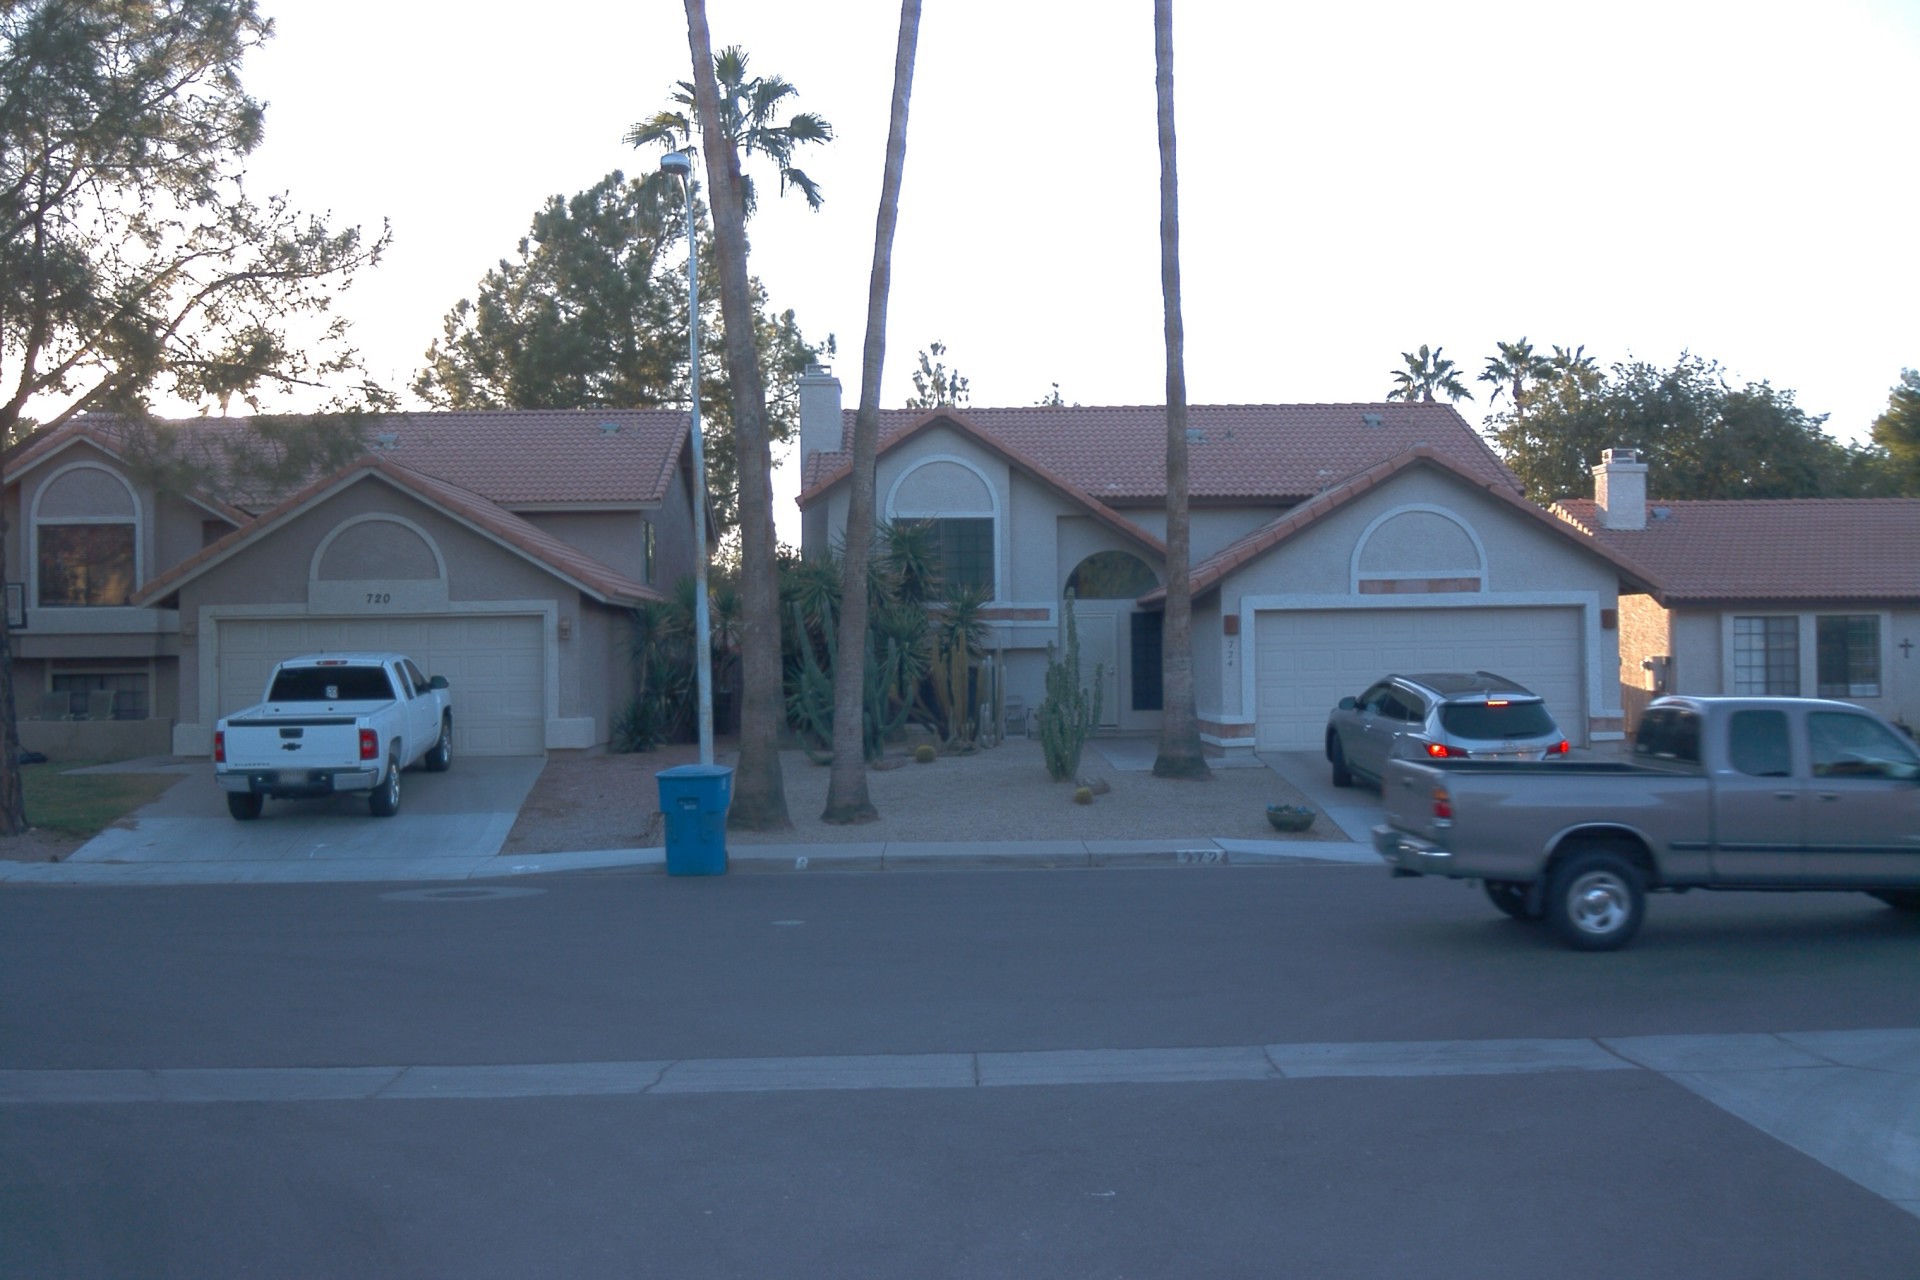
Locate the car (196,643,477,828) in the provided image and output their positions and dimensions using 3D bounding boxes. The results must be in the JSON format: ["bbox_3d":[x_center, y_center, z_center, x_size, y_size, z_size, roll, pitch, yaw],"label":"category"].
[{"bbox_3d":[-8.078,1.192,27.612,2.325,2.200,5.595,0,-1,-3],"label":"car"}]

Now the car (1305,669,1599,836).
[{"bbox_3d":[5.984,1.321,25.975,2.108,1.880,4.731,0,-1,-6],"label":"car"}]
